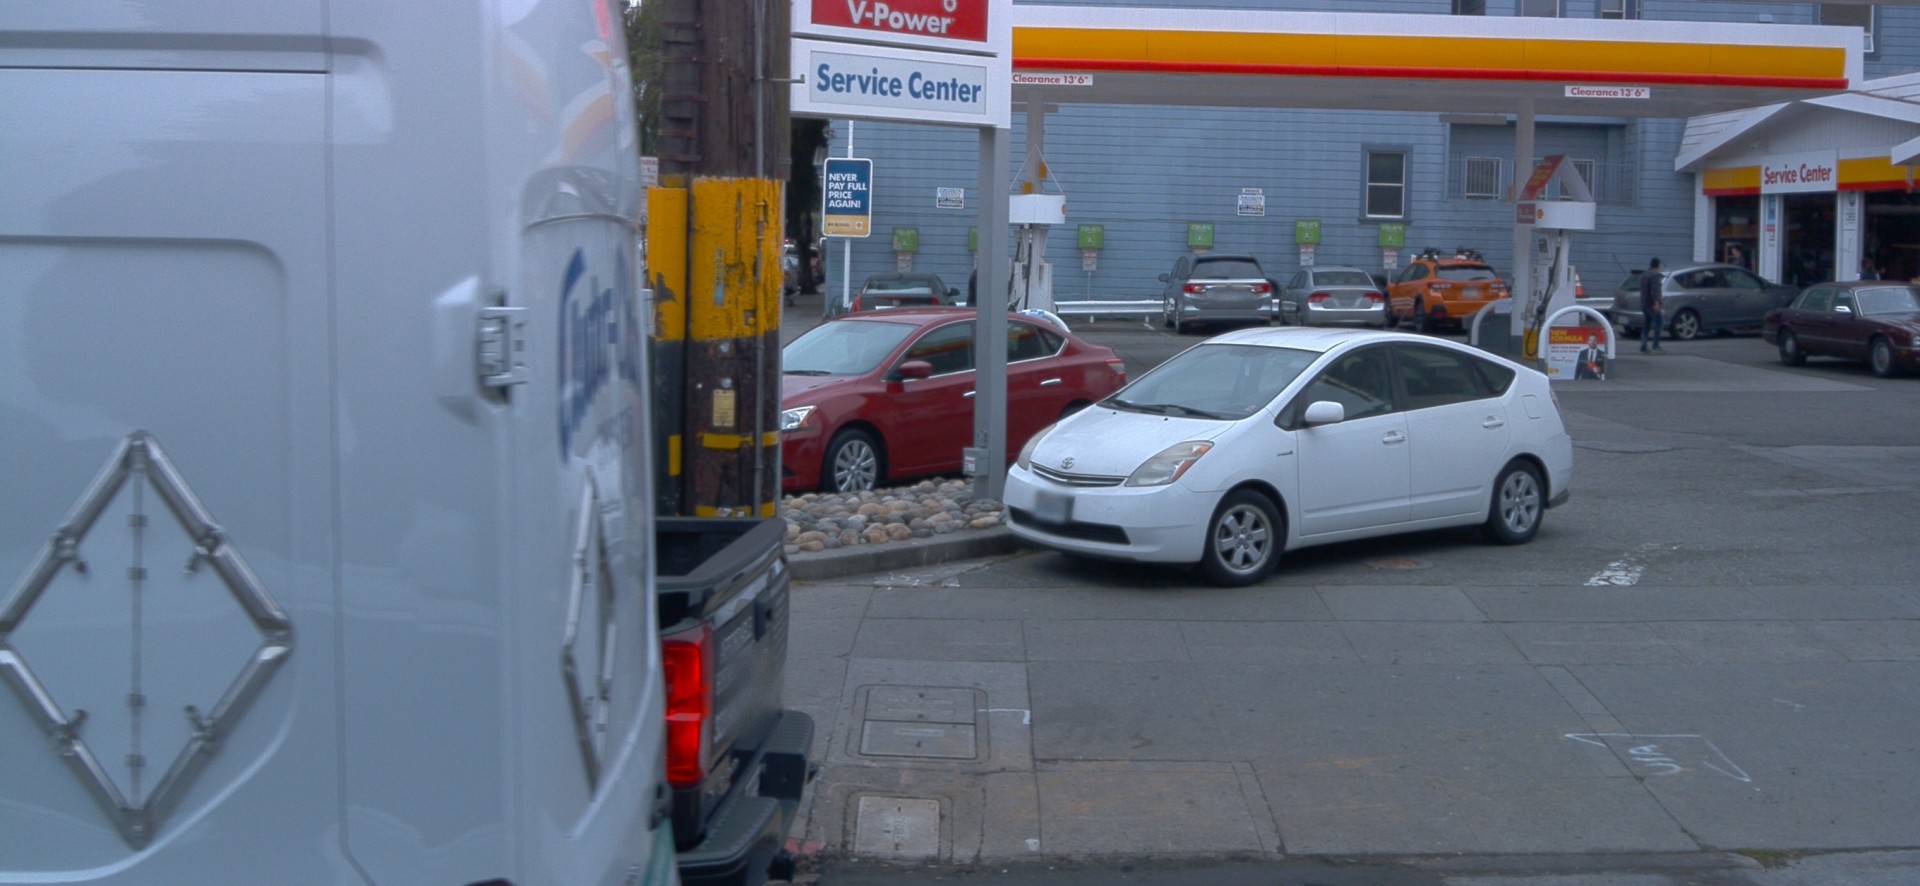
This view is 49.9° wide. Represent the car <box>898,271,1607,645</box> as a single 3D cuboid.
[{"bbox_3d":[2.041,-0.099,13.705,4.545,1.922,2.095,-5,6,-37],"label":"car"}]

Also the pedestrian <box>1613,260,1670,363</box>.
[{"bbox_3d":[12.015,-2.340,36.347,0.851,1.747,0.970,1,3,25],"label":"pedestrian"}]

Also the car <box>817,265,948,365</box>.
[{"bbox_3d":[-1.311,-2.329,36.702,1.977,1.511,4.539,0,6,2],"label":"car"}]

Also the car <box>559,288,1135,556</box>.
[{"bbox_3d":[-0.801,-0.329,17.194,2.005,1.712,4.712,4,7,43],"label":"car"}]
